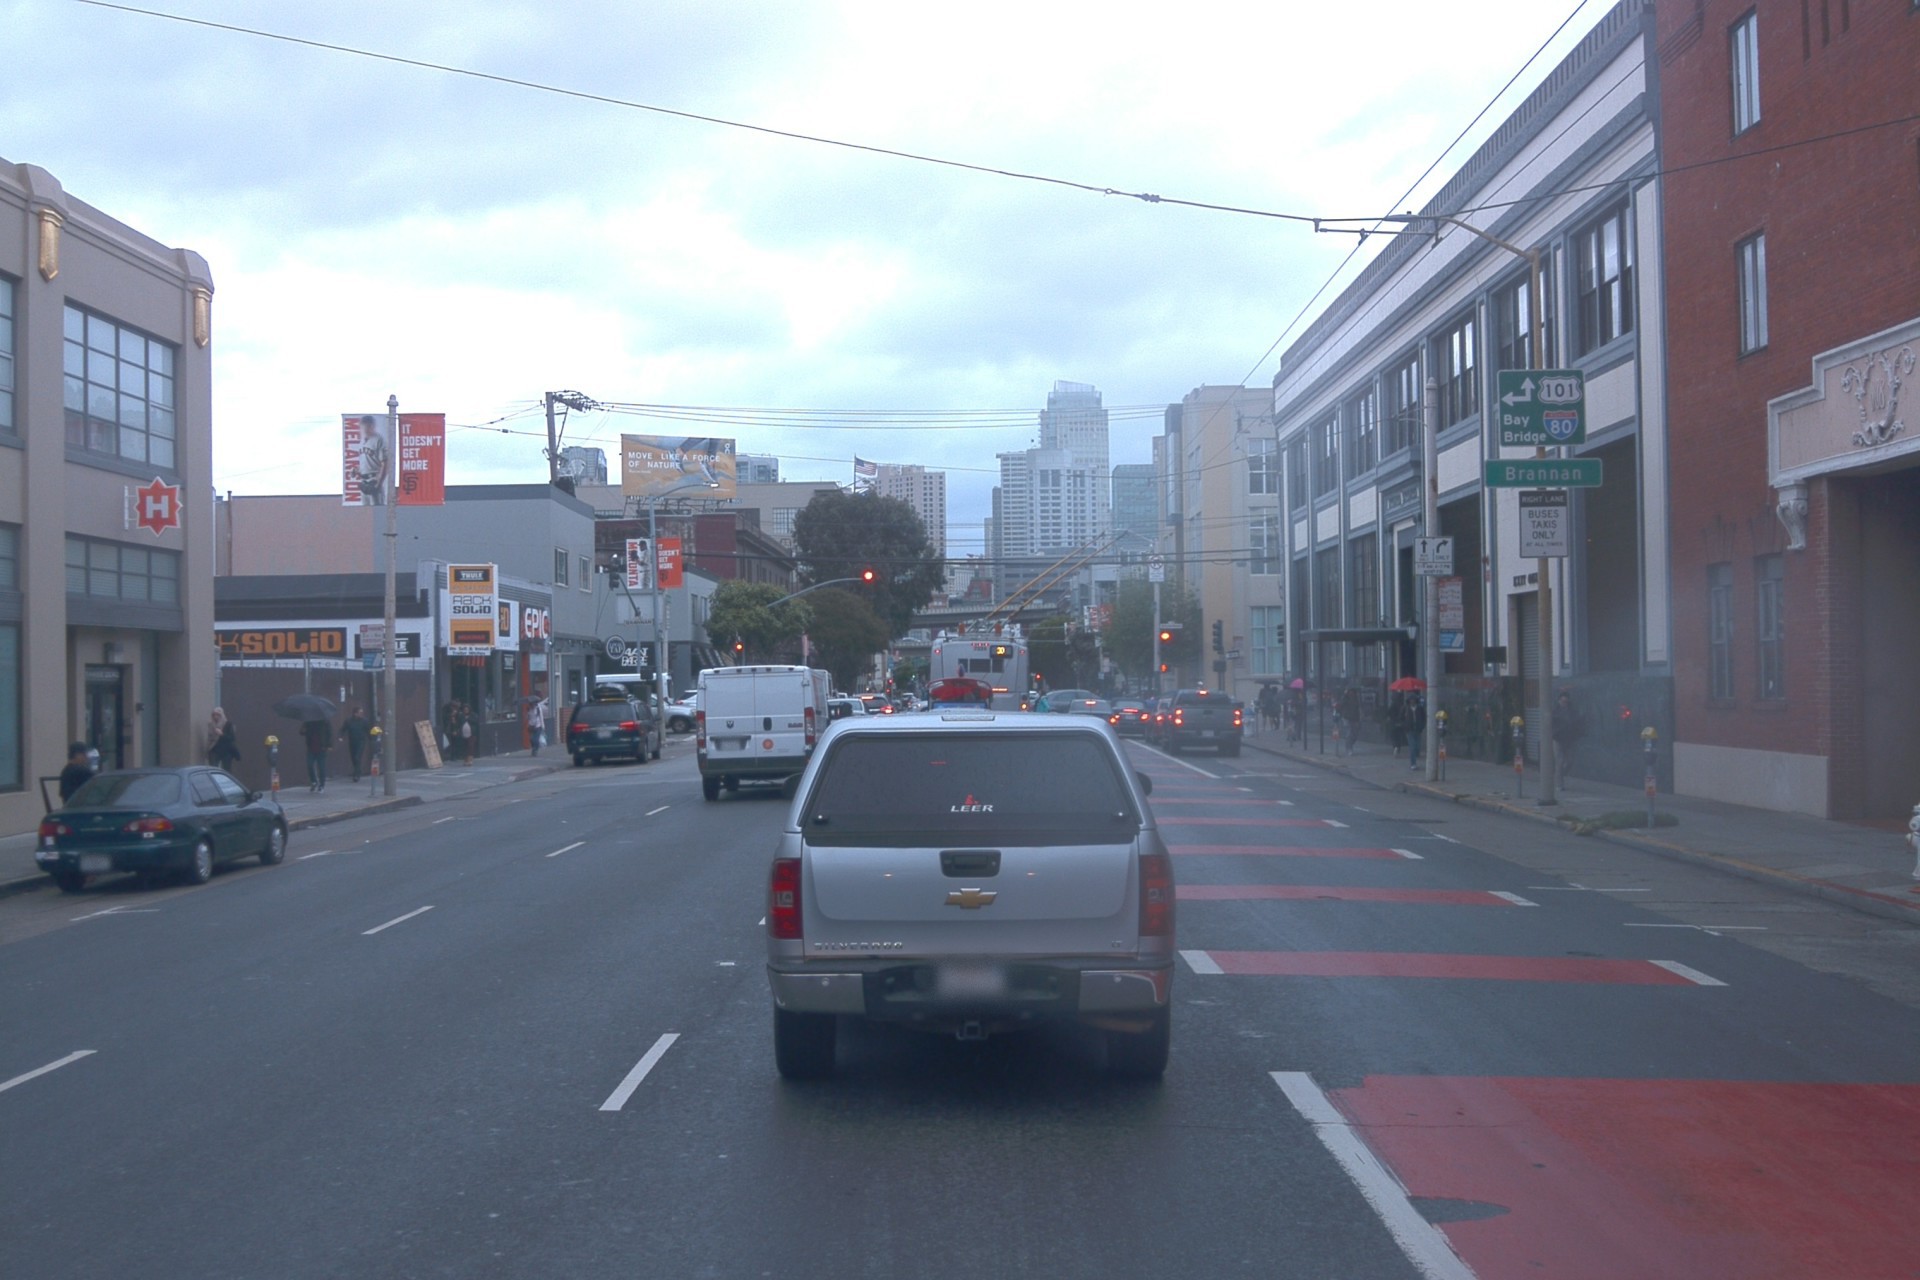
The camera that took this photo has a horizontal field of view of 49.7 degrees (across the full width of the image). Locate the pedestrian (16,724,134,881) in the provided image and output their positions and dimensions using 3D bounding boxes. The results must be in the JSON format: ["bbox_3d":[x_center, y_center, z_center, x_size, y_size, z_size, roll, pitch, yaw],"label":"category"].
[{"bbox_3d":[-10.442,1.893,24.464,1.114,1.767,0.853,-1,-1,39],"label":"pedestrian"}]

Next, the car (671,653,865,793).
[{"bbox_3d":[-3.366,1.442,37.973,2.862,2.340,6.175,0,-1,1],"label":"car"}]

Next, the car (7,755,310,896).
[{"bbox_3d":[-9.237,2.102,24.298,1.823,1.328,4.293,0,-1,1],"label":"car"}]

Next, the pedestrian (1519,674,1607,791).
[{"bbox_3d":[10.416,1.571,35.859,1.012,1.970,1.529,0,-1,-3],"label":"pedestrian"}]

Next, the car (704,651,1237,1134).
[{"bbox_3d":[0.041,1.190,11.967,2.437,2.200,4.924,0,-1,0],"label":"car"}]
